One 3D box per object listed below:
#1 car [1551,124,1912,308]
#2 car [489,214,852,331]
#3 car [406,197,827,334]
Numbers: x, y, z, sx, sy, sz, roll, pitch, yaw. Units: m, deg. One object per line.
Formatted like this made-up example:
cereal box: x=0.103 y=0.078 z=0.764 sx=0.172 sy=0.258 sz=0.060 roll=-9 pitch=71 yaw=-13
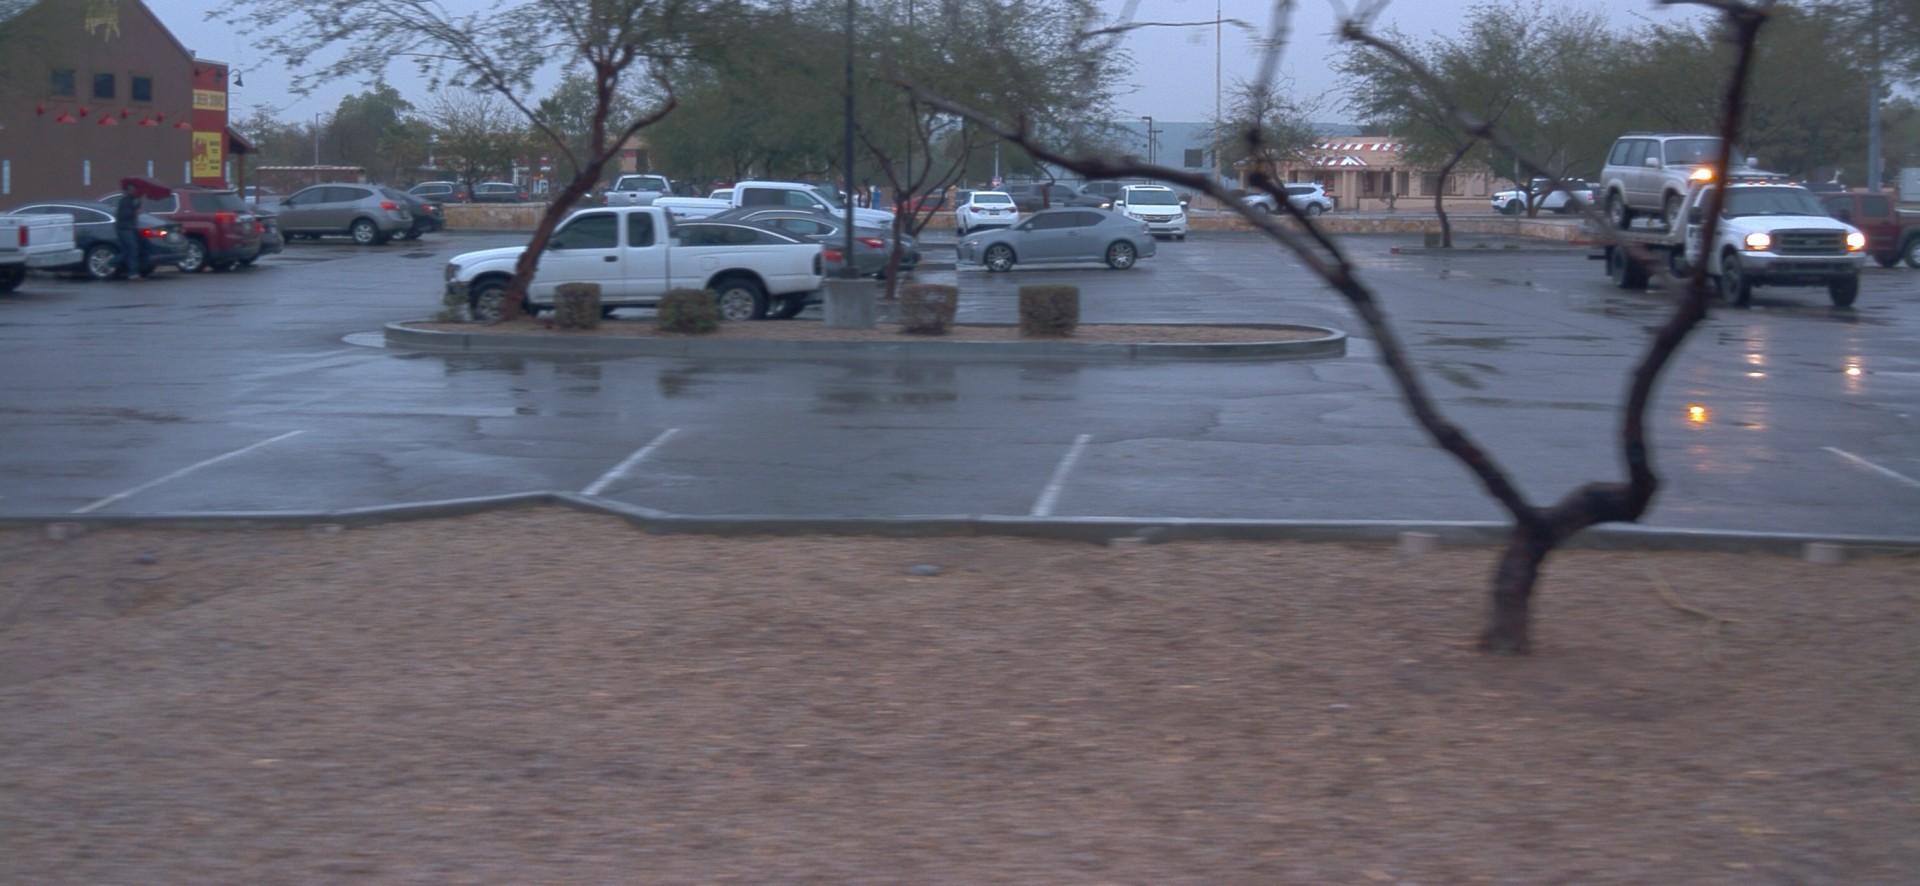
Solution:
car: x=13.209 y=-3.960 z=36.599 sx=2.854 sy=2.828 sz=8.829 roll=0 pitch=5 yaw=-2
car: x=-4.096 y=-2.483 z=30.080 sx=4.938 sy=1.586 sz=2.150 roll=0 pitch=4 yaw=-1
car: x=-4.402 y=-2.351 z=27.349 sx=5.184 sy=1.696 sz=2.140 roll=0 pitch=4 yaw=-2
